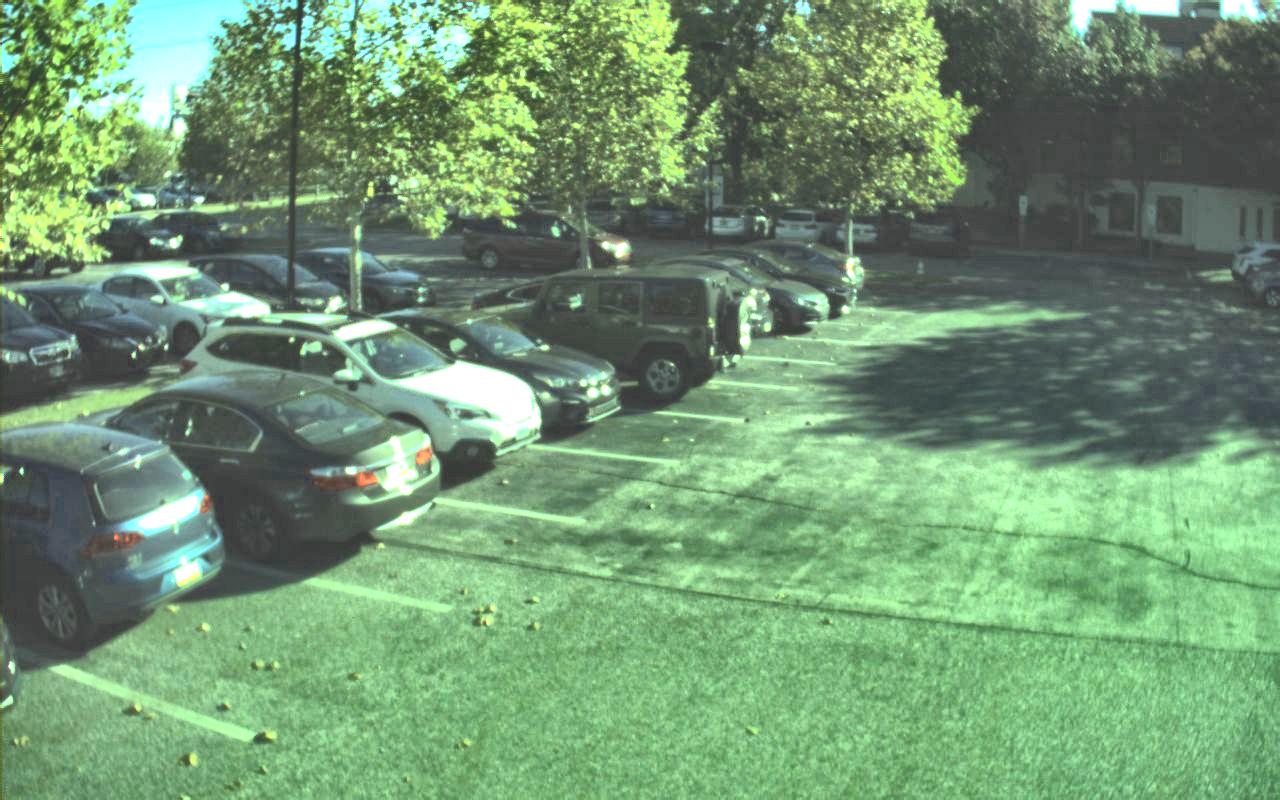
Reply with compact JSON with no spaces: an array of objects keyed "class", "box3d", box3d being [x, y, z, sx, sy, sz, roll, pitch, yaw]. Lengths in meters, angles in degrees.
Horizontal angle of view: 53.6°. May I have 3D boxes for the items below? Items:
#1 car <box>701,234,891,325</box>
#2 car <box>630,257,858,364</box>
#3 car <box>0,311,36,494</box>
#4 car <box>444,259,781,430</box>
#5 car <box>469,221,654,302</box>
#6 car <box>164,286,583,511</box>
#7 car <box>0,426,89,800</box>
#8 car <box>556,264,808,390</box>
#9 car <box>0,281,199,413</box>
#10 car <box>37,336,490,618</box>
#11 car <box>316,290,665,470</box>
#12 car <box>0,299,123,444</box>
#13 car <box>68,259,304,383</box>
[{"class":"car","box3d":[3.895,-3.029,31.183,4.370,1.638,1.979,6,18,21]},{"class":"car","box3d":[2.206,-1.921,26.316,4.420,1.607,1.949,4,17,17]},{"class":"car","box3d":[-10.810,-0.031,14.882,4.677,1.734,2.035,4,17,16]},{"class":"car","box3d":[-0.394,-0.946,19.190,4.663,1.842,2.036,5,17,20]},{"class":"car","box3d":[-2.270,-4.059,36.448,4.888,1.772,2.082,5,17,21]},{"class":"car","box3d":[-3.275,-0.170,14.765,4.757,1.725,2.036,6,18,23]},{"class":"car","box3d":[-6.191,1.537,7.156,4.451,1.644,1.961,5,17,20]},{"class":"car","box3d":[0.808,-1.475,24.112,4.387,1.644,1.964,7,18,25]},{"class":"car","box3d":[-9.951,-0.977,20.033,4.428,1.583,1.964,5,17,20]},{"class":"car","box3d":[-3.903,0.578,11.968,4.486,1.595,1.965,7,18,26]},{"class":"car","box3d":[-2.057,-0.385,16.995,4.358,1.545,1.932,7,18,25]},{"class":"car","box3d":[-10.507,-0.500,17.573,4.498,1.615,1.983,3,17,14]},{"class":"car","box3d":[-8.747,-1.562,22.559,4.555,1.621,1.982,6,18,24]}]
